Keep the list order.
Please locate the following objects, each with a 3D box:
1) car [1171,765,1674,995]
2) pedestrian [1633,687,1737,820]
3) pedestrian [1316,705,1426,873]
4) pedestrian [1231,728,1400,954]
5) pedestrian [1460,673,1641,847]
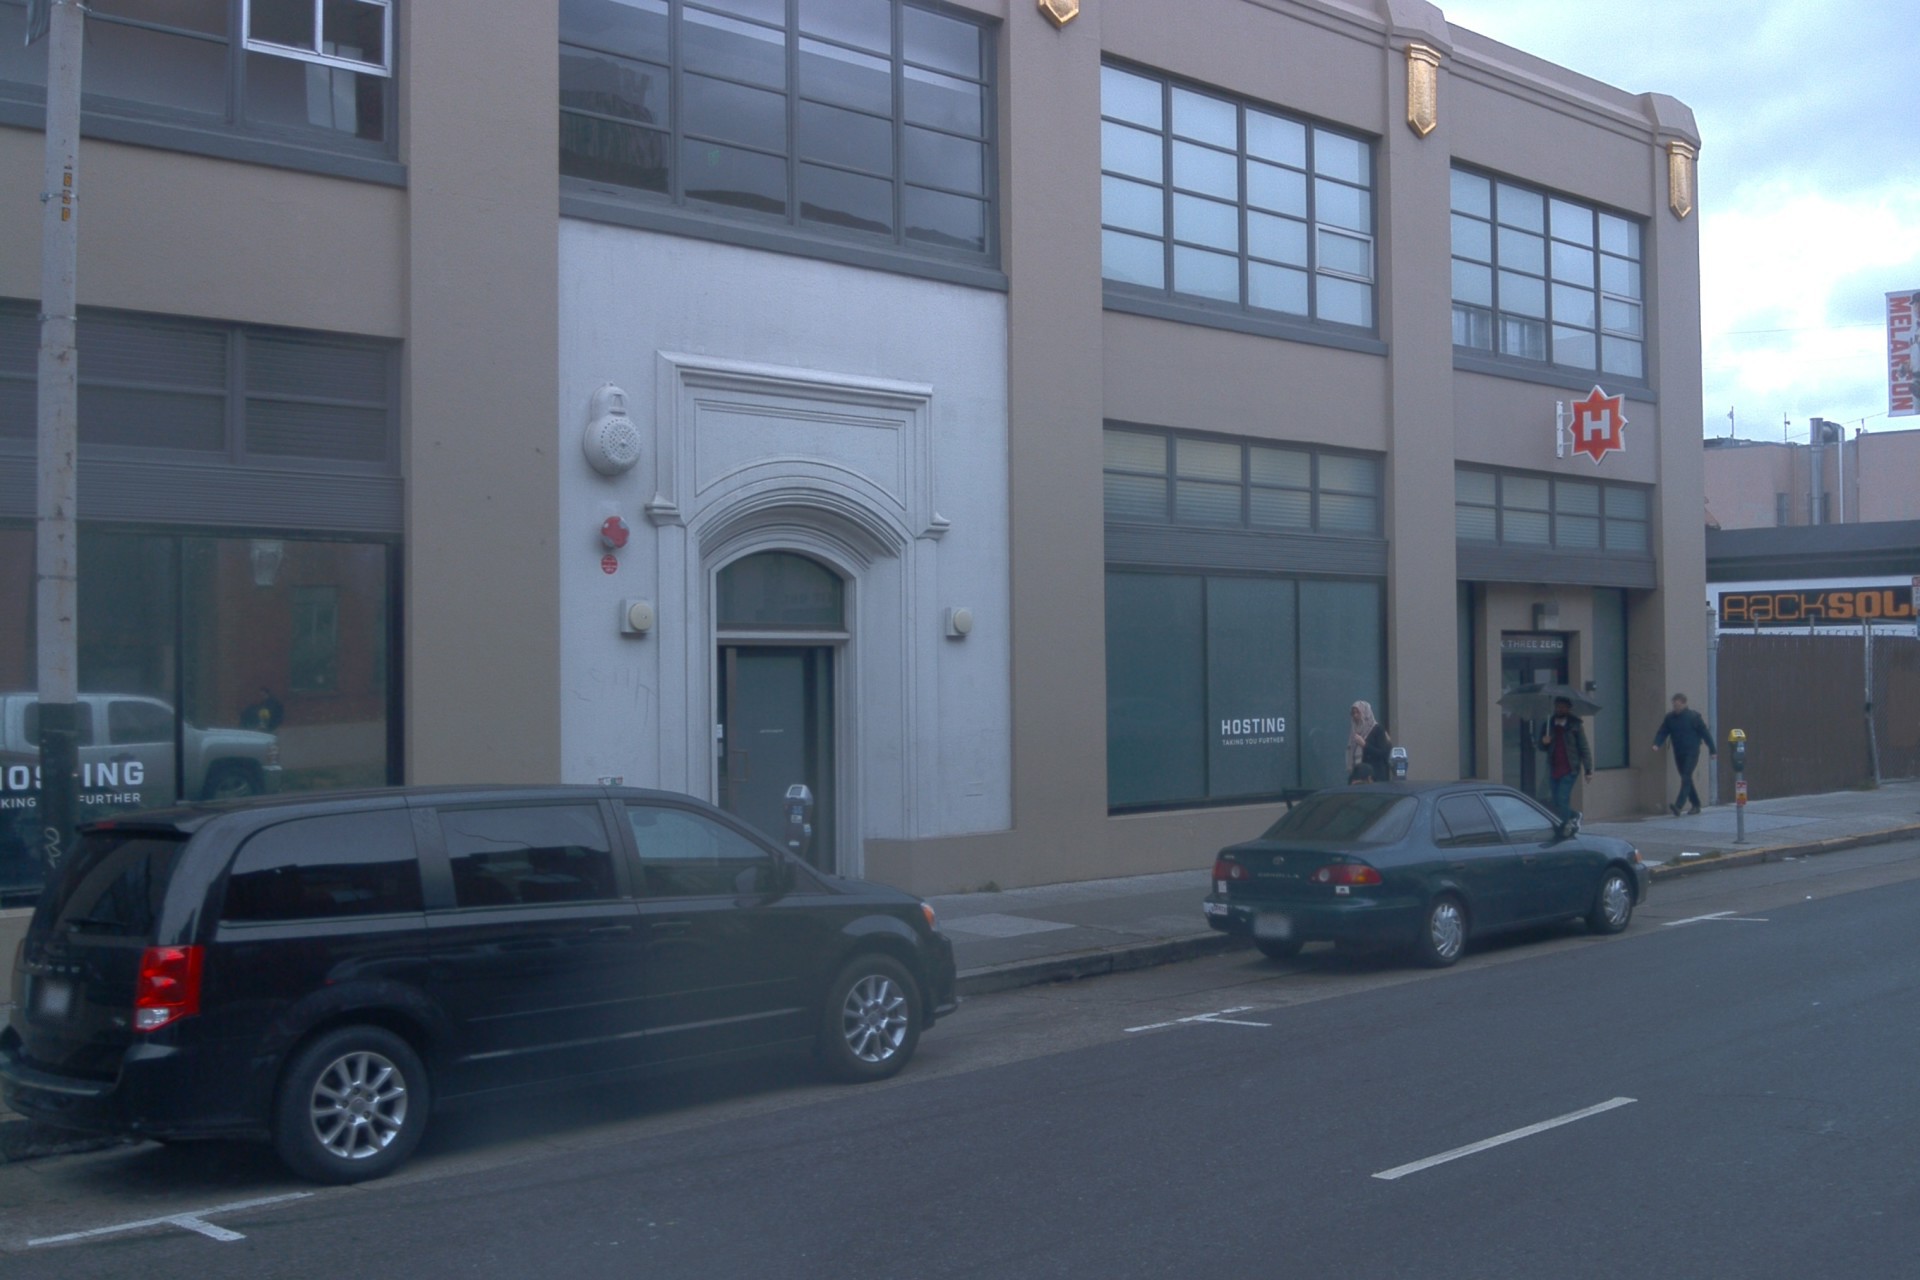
[{"bbox_3d":[3.778,1.787,16.520,4.350,1.328,1.799,0,0,-44],"label":"car"},{"bbox_3d":[9.725,1.503,27.889,1.083,1.708,0.924,0,0,-43],"label":"pedestrian"},{"bbox_3d":[4.476,1.599,22.644,0.852,1.740,0.841,0,0,-45],"label":"pedestrian"},{"bbox_3d":[2.974,1.647,17.439,0.863,1.767,1.101,0,0,-45],"label":"pedestrian"},{"bbox_3d":[7.012,1.377,24.702,1.513,1.950,1.495,0,0,-42],"label":"pedestrian"}]
